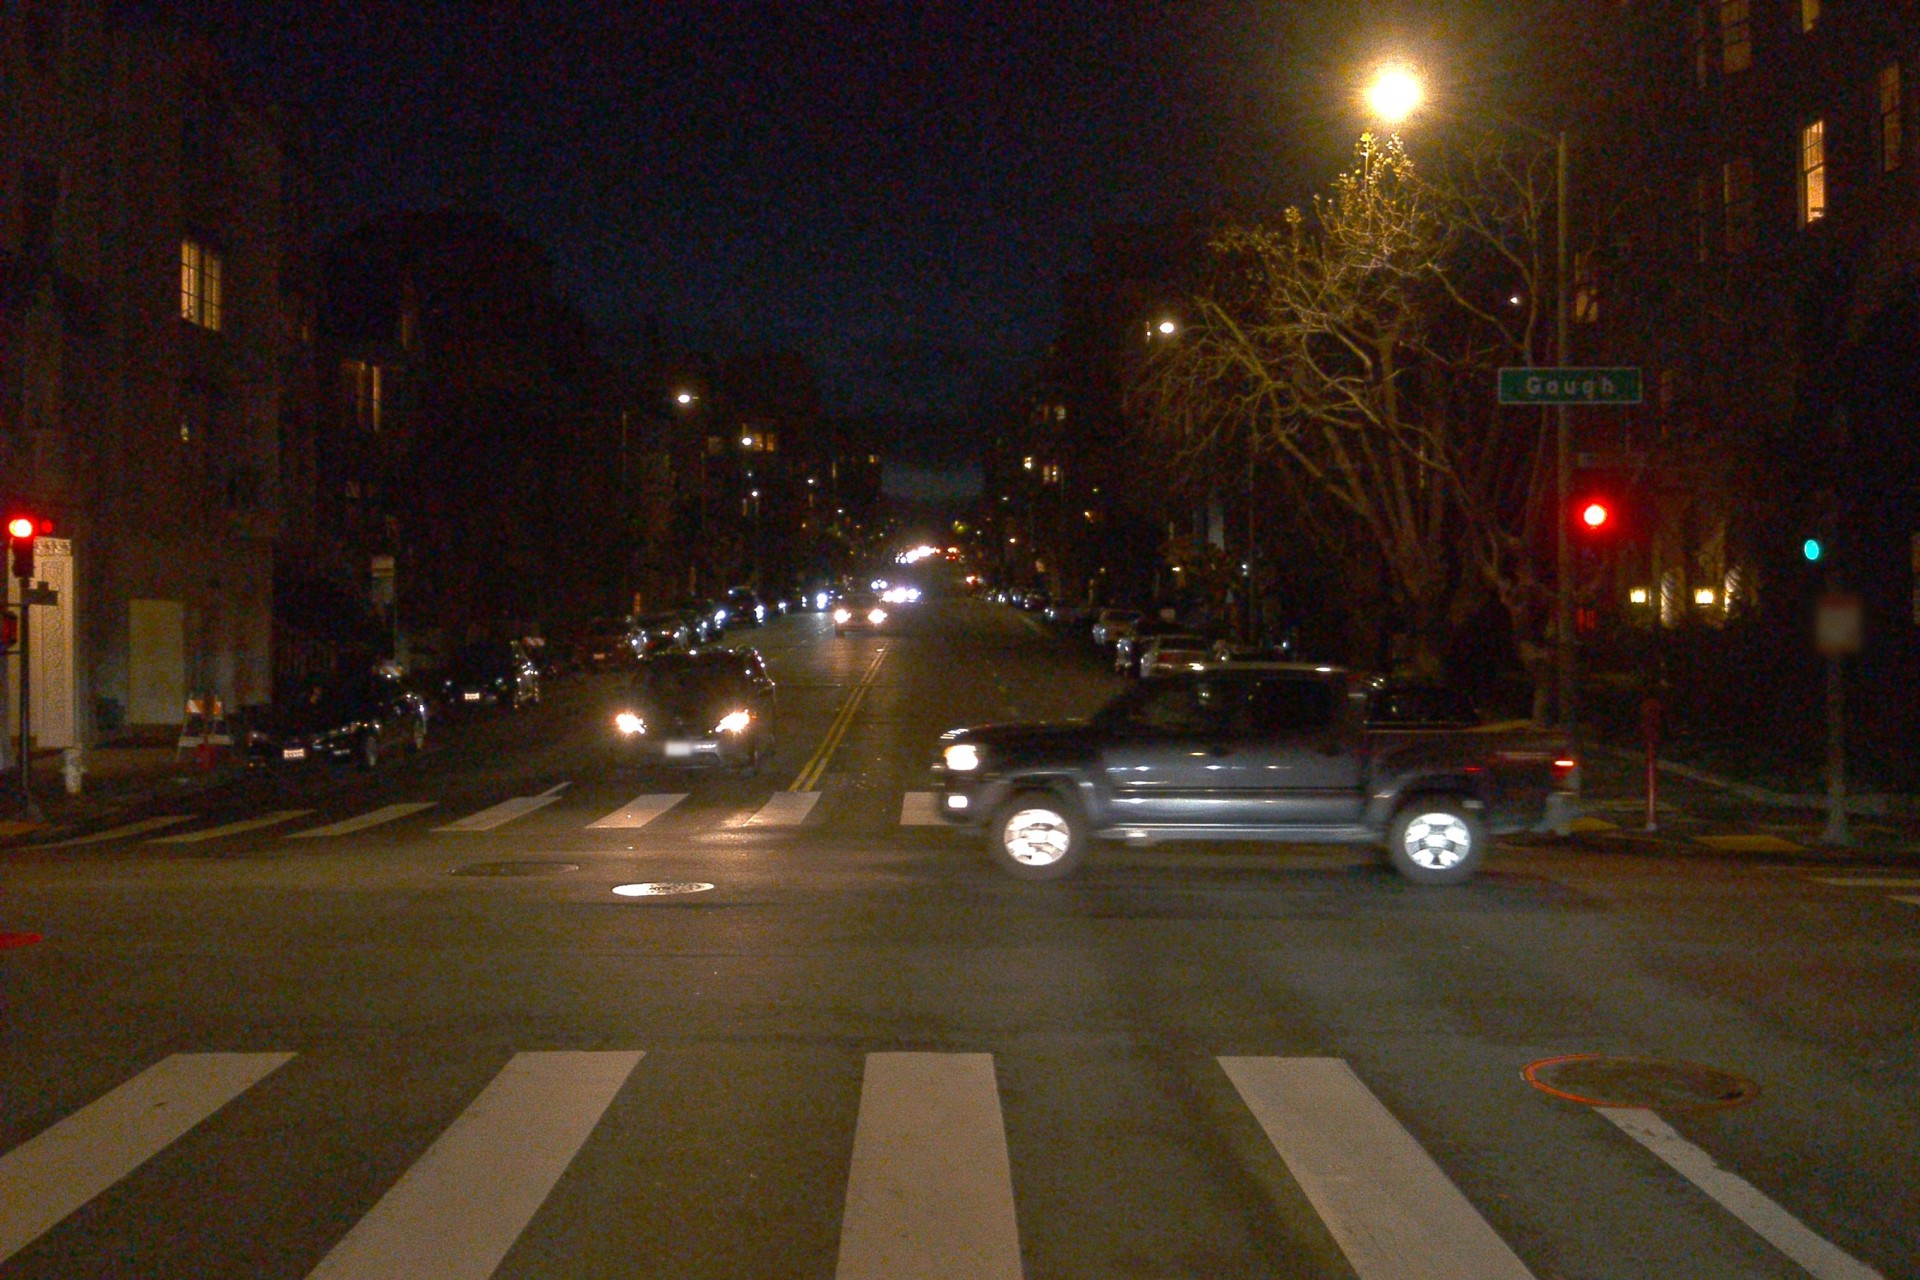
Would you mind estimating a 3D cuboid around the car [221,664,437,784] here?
[{"bbox_3d":[-10.055,1.292,33.210,2.045,1.673,4.519,1,0,0],"label":"car"}]

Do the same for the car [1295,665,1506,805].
[{"bbox_3d":[6.078,1.260,28.895,1.802,1.714,4.078,1,0,-4],"label":"car"}]

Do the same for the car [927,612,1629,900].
[{"bbox_3d":[2.448,0.892,17.063,5.402,2.142,2.267,1,0,-1],"label":"car"}]

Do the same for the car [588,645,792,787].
[{"bbox_3d":[-3.807,1.024,29.922,2.293,1.803,4.677,1,0,0],"label":"car"}]
